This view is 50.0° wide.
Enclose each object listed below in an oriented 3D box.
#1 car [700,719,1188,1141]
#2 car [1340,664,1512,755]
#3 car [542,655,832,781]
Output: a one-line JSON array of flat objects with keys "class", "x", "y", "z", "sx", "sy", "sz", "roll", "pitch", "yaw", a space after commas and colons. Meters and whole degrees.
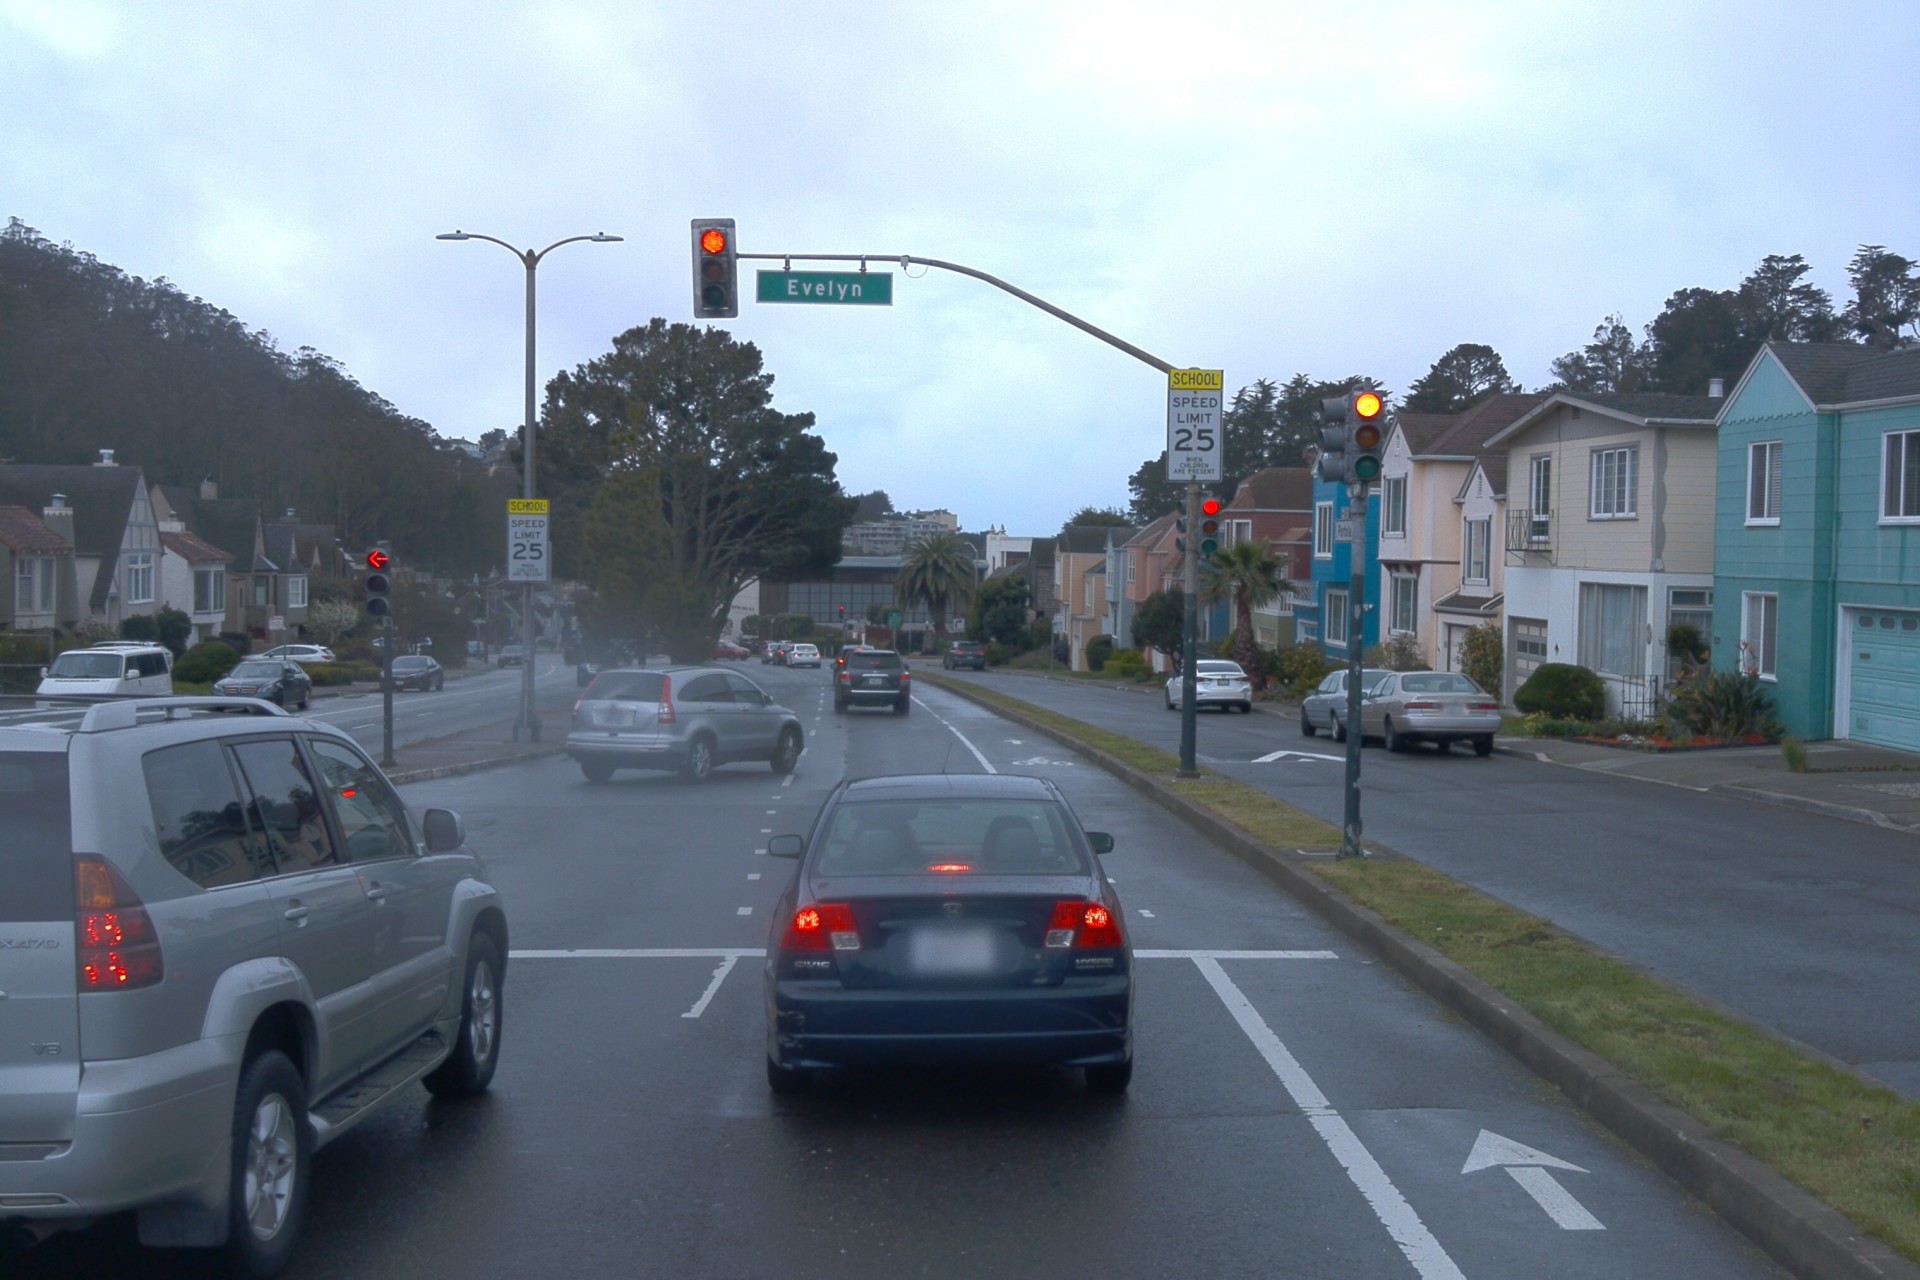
[{"class": "car", "x": -0.106, "y": 1.267, "z": 10.547, "sx": 2.004, "sy": 1.570, "sz": 4.164, "roll": 0, "pitch": 0, "yaw": -1}, {"class": "car", "x": 8.084, "y": 1.174, "z": 36.132, "sx": 1.755, "sy": 1.440, "sz": 4.469, "roll": 0, "pitch": 0, "yaw": -4}, {"class": "car", "x": -3.910, "y": 1.077, "z": 30.382, "sx": 2.145, "sy": 1.660, "sz": 4.576, "roll": 0, "pitch": 0, "yaw": 24}]
